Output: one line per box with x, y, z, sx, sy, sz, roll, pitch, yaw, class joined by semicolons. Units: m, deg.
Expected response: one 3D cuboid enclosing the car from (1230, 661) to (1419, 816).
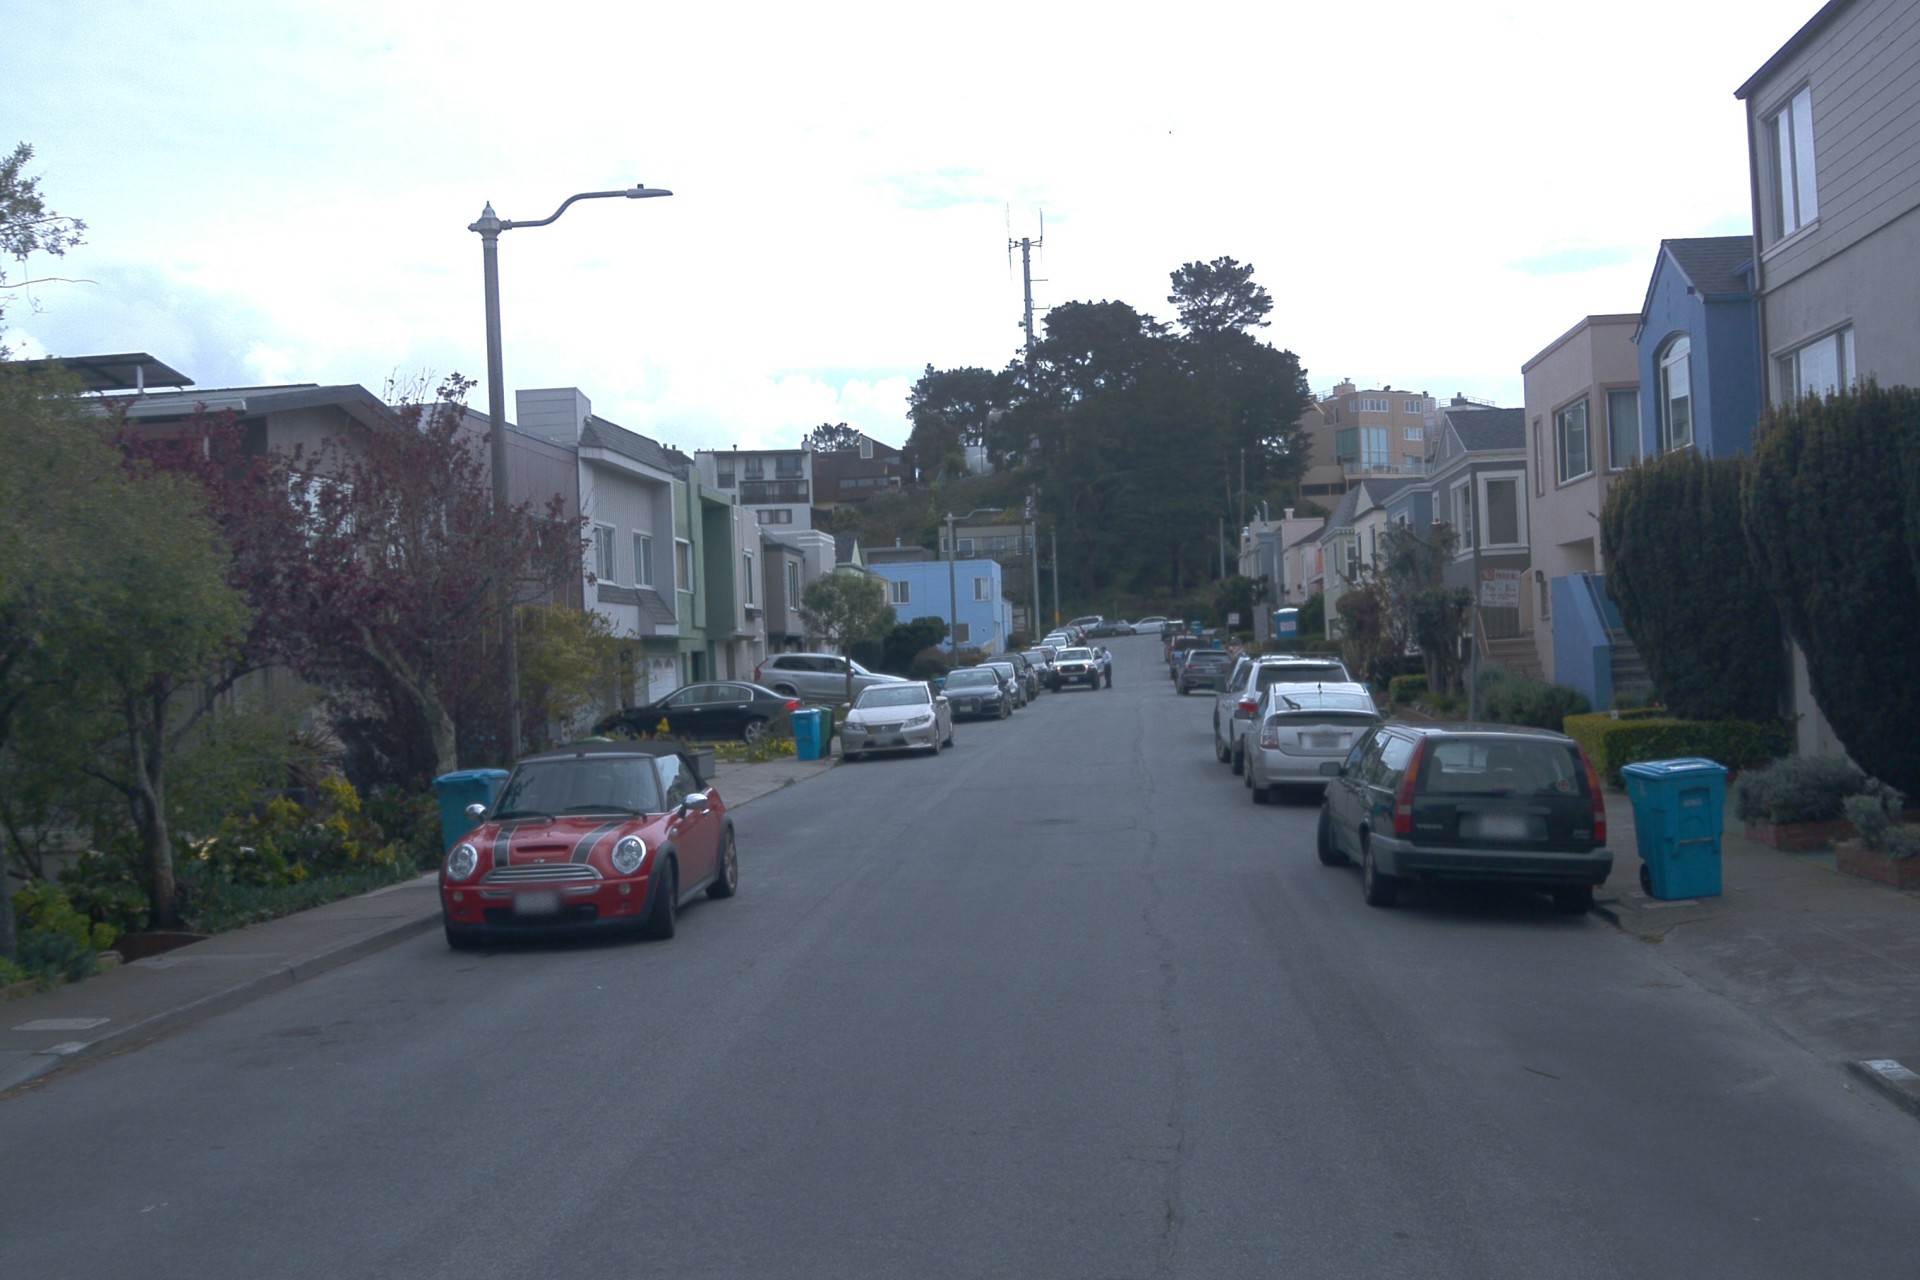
4.577;1.181;26.660;2.087;1.790;4.605;0;0;6;car

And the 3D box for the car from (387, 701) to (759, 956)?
-2.887;1.364;16.335;1.994;1.670;3.840;0;0;4;car

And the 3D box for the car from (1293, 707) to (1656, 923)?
4.099;1.342;17.380;2.070;1.420;4.834;0;0;3;car

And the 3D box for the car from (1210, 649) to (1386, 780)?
5.083;1.062;31.806;2.207;1.850;5.026;0;0;4;car
